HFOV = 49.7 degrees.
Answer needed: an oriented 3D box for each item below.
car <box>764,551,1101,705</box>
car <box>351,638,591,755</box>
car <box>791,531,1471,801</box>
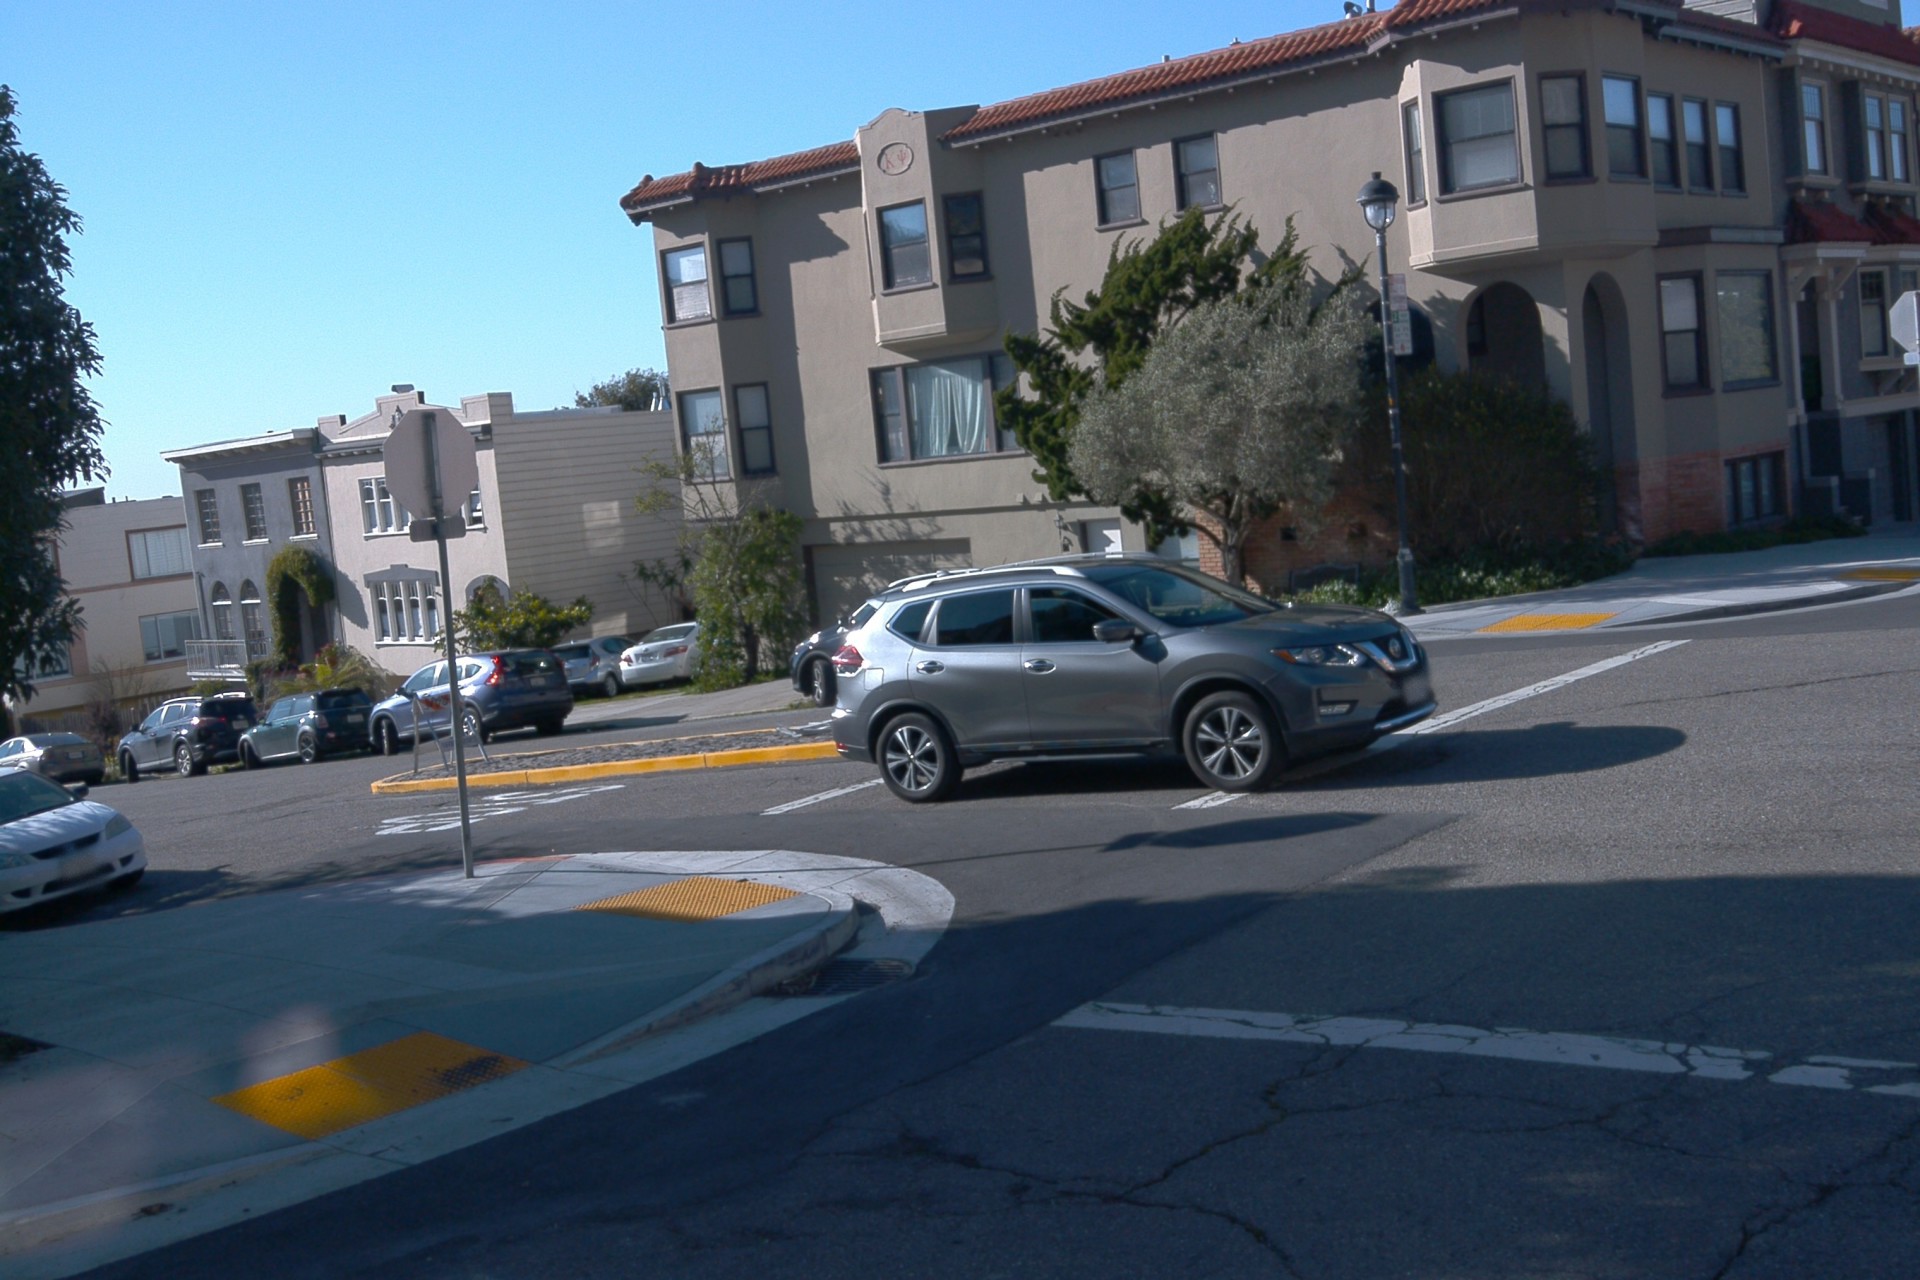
[{"bbox_3d":[-0.454,-0.157,29.613,4.526,2.020,2.204,0,0,43],"label":"car"},{"bbox_3d":[-8.778,0.957,37.047,4.304,1.950,2.023,0,0,41],"label":"car"},{"bbox_3d":[1.197,0.167,15.589,4.681,1.740,2.086,0,0,37],"label":"car"}]
